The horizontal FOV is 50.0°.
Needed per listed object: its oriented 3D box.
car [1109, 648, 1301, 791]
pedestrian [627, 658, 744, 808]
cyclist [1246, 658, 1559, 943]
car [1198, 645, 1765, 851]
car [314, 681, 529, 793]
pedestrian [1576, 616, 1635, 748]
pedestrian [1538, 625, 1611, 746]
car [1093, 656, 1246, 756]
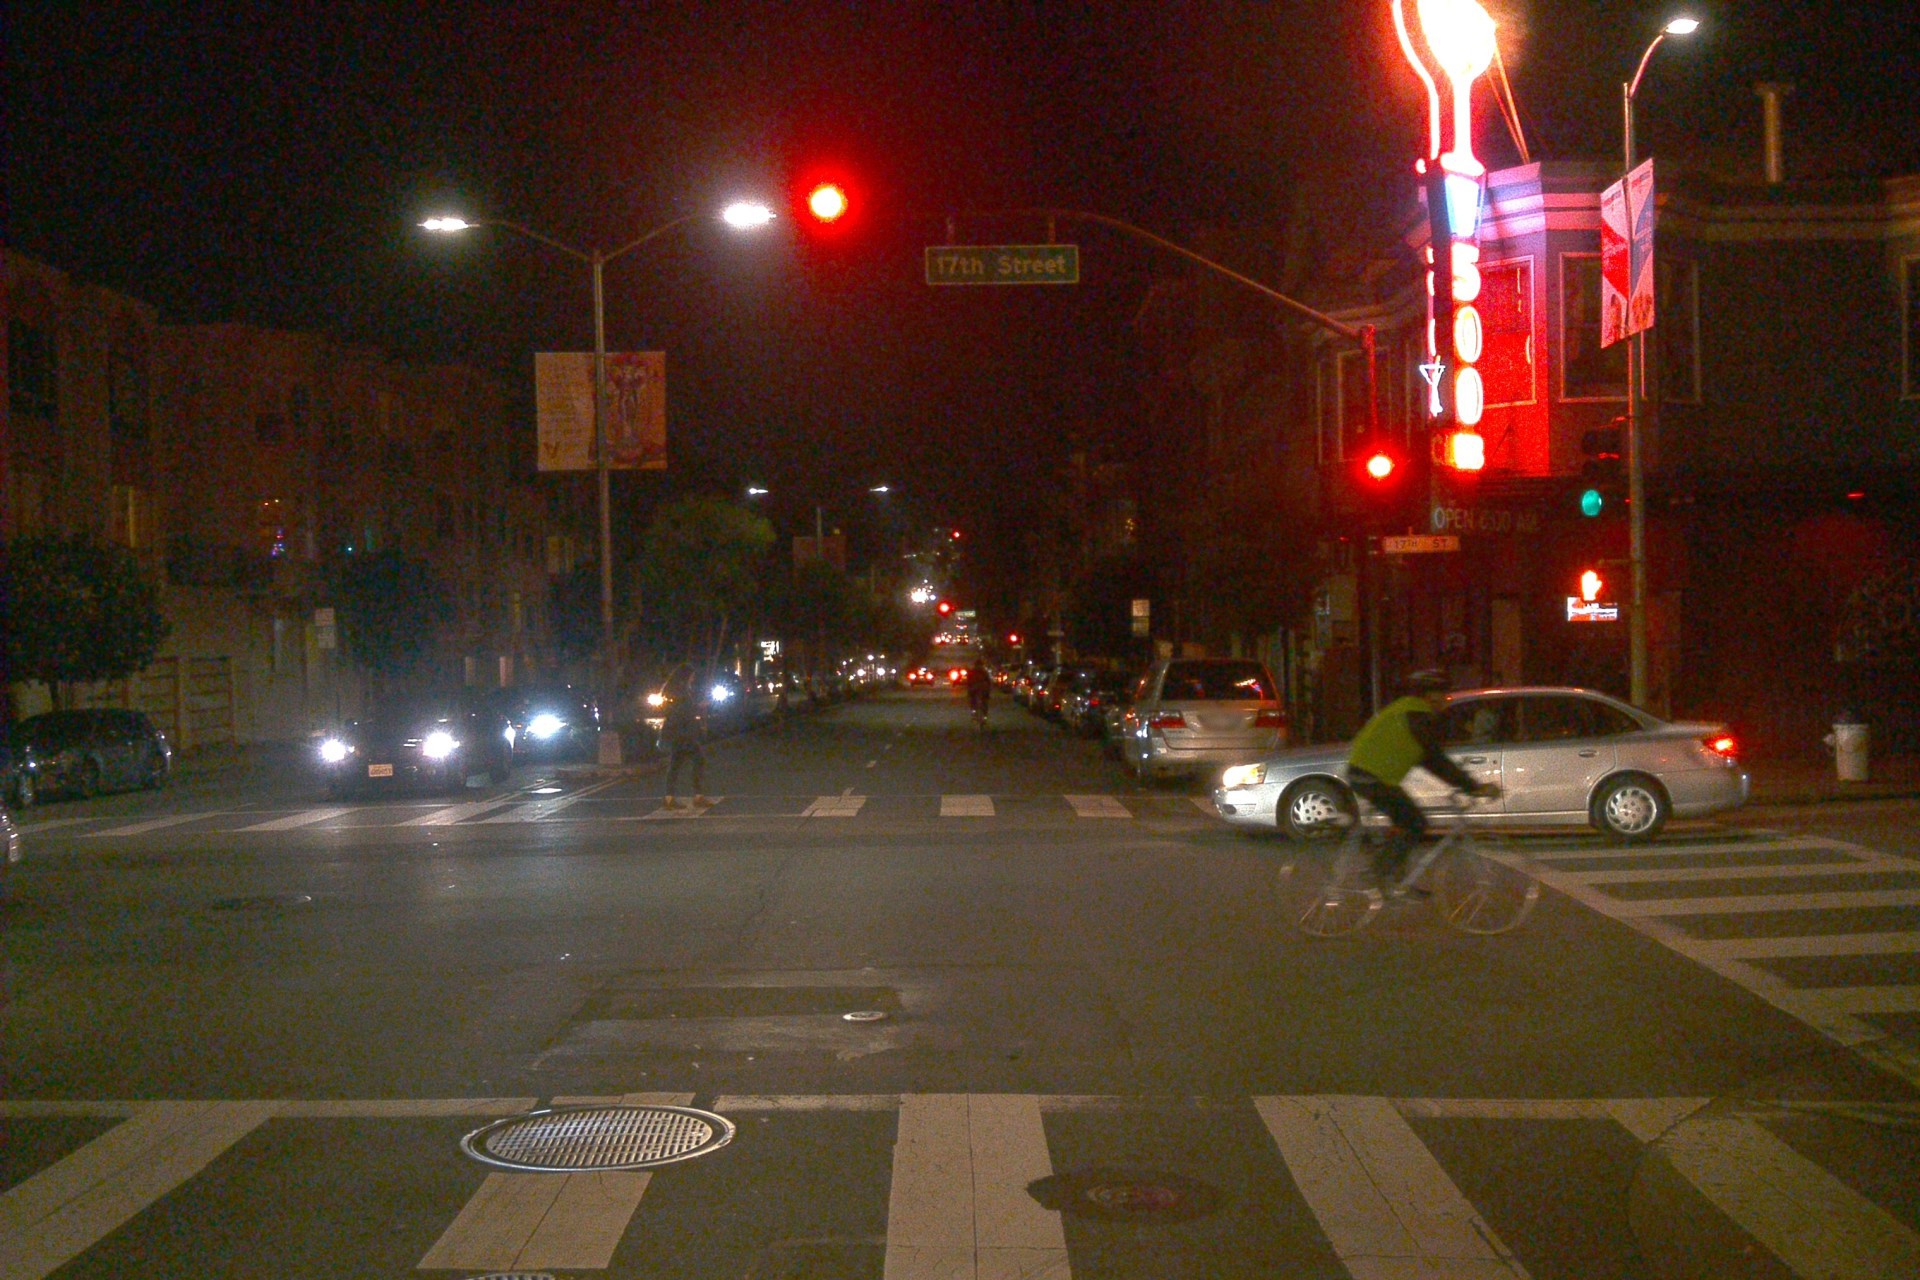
[{"bbox_3d":[3.287,1.021,28.469,2.087,1.770,4.655,1,0,0],"label":"car"},{"bbox_3d":[-3.173,1.063,23.840,1.189,1.690,0.924,1,0,2],"label":"pedestrian"},{"bbox_3d":[2.811,1.005,13.166,1.790,1.750,0.762,1,0,-6],"label":"cyclist"},{"bbox_3d":[4.745,0.931,19.163,4.826,1.720,2.135,1,0,11],"label":"car"},{"bbox_3d":[-7.622,1.333,29.550,1.903,1.390,4.511,1,0,0],"label":"car"},{"bbox_3d":[9.049,0.578,28.828,0.739,1.820,0.628,1,0,20],"label":"pedestrian"},{"bbox_3d":[8.813,0.644,29.498,0.721,1.720,0.691,1,0,-18],"label":"pedestrian"},{"bbox_3d":[3.322,1.019,33.307,1.810,1.470,4.216,1,0,-3],"label":"car"}]
